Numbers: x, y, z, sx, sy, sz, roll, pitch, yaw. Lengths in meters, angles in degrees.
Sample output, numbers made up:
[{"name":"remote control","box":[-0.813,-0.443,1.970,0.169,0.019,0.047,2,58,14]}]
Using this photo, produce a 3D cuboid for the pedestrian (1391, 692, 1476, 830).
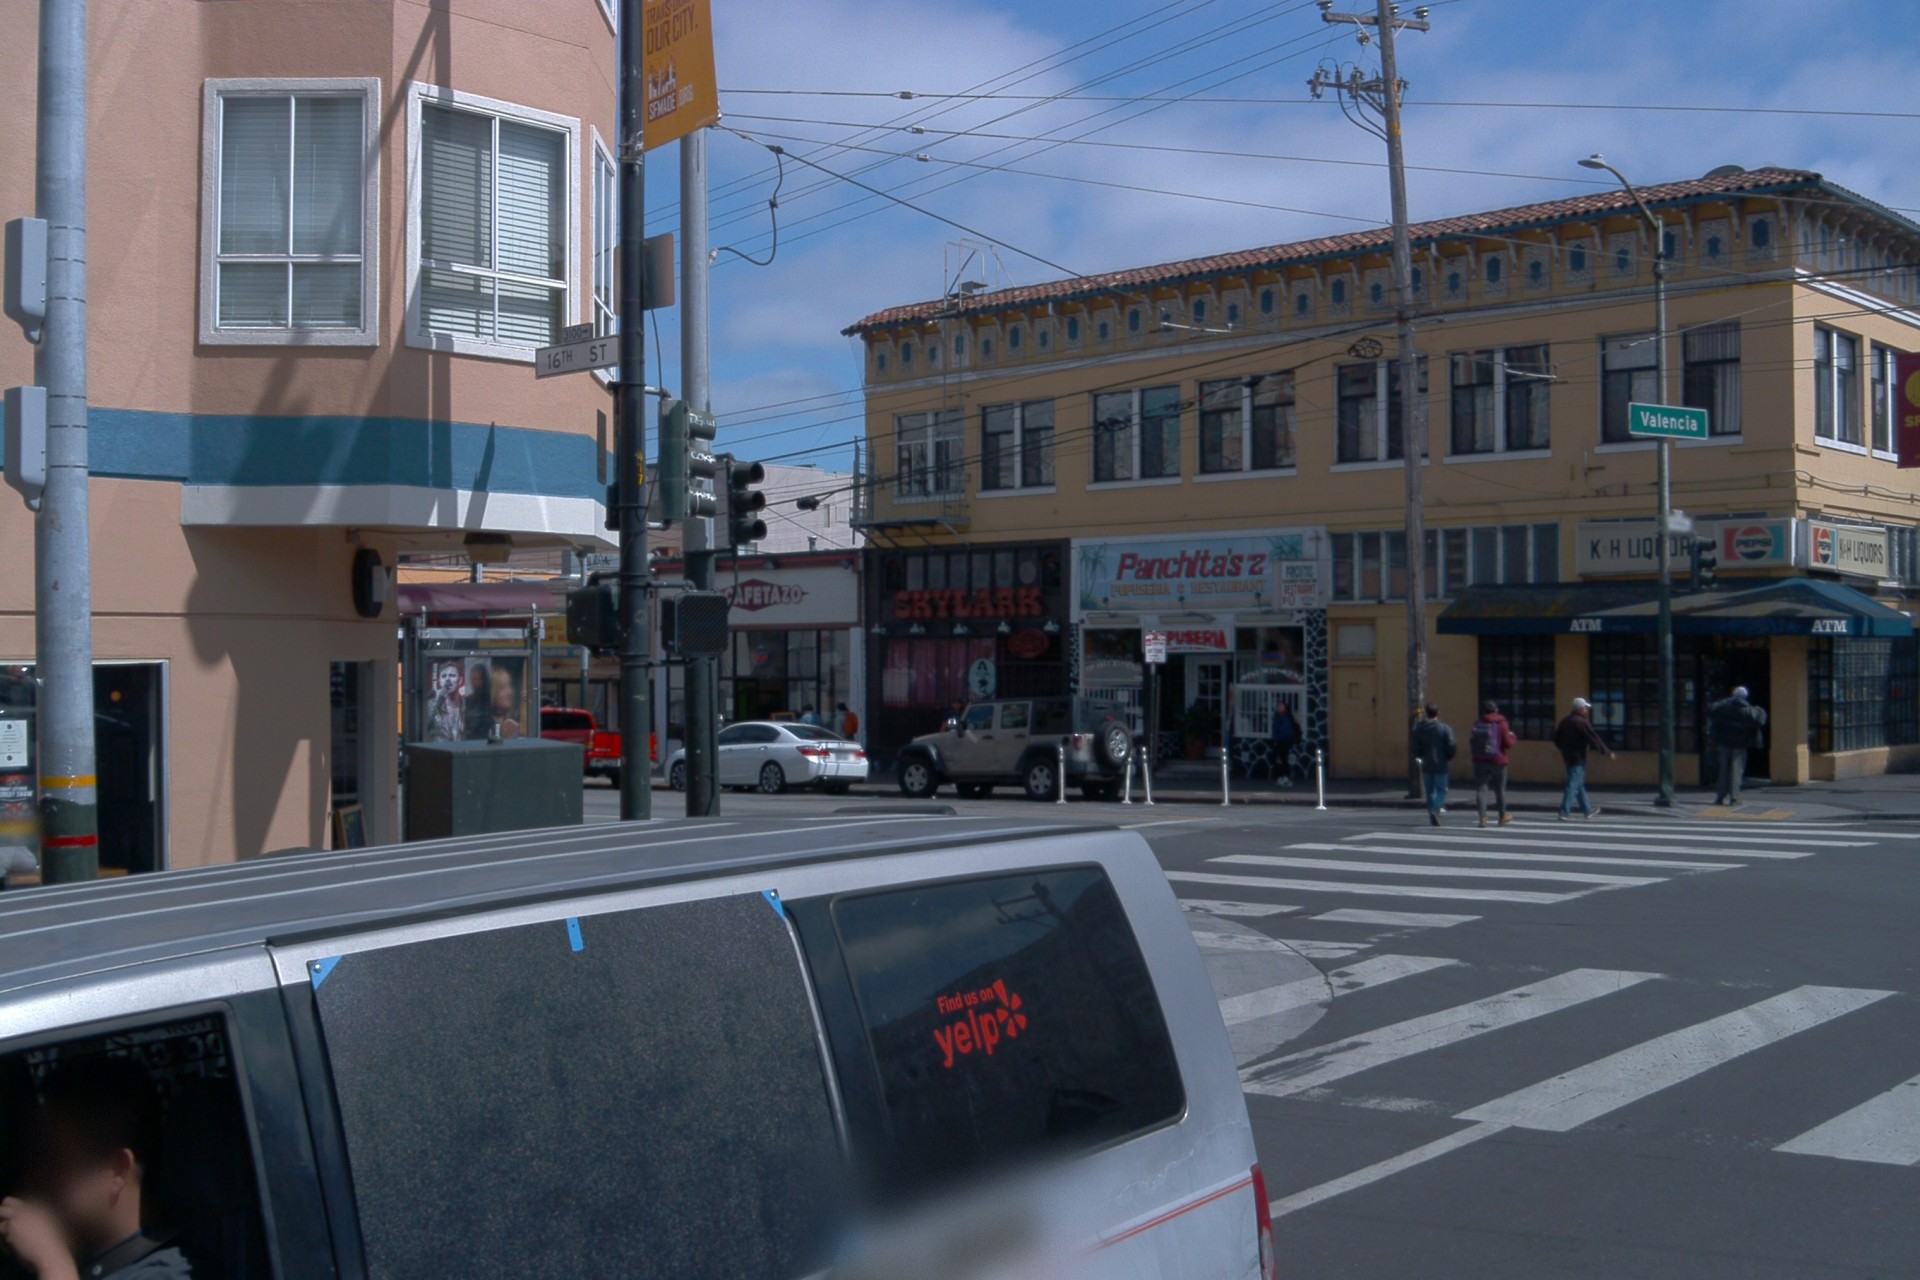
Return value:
[{"name":"pedestrian","box":[5.852,1.475,25.486,0.881,1.630,0.915,0,1,22]}]

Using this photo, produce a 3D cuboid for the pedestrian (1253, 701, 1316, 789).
[{"name":"pedestrian","box":[5.866,1.888,37.295,0.957,1.530,0.767,0,1,25]}]

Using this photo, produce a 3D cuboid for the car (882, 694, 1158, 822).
[{"name":"car","box":[1.006,2.024,36.654,4.715,1.960,2.025,1,1,42]}]

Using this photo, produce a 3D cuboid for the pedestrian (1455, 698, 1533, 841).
[{"name":"pedestrian","box":[6.490,1.552,25.052,0.746,1.650,0.862,0,1,27]}]

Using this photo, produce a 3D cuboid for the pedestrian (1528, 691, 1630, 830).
[{"name":"pedestrian","box":[8.109,1.563,27.040,1.084,1.730,0.796,-1,1,-36]}]

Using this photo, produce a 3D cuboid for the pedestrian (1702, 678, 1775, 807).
[{"name":"pedestrian","box":[11.506,1.500,30.497,0.902,1.850,0.715,0,1,30]}]
